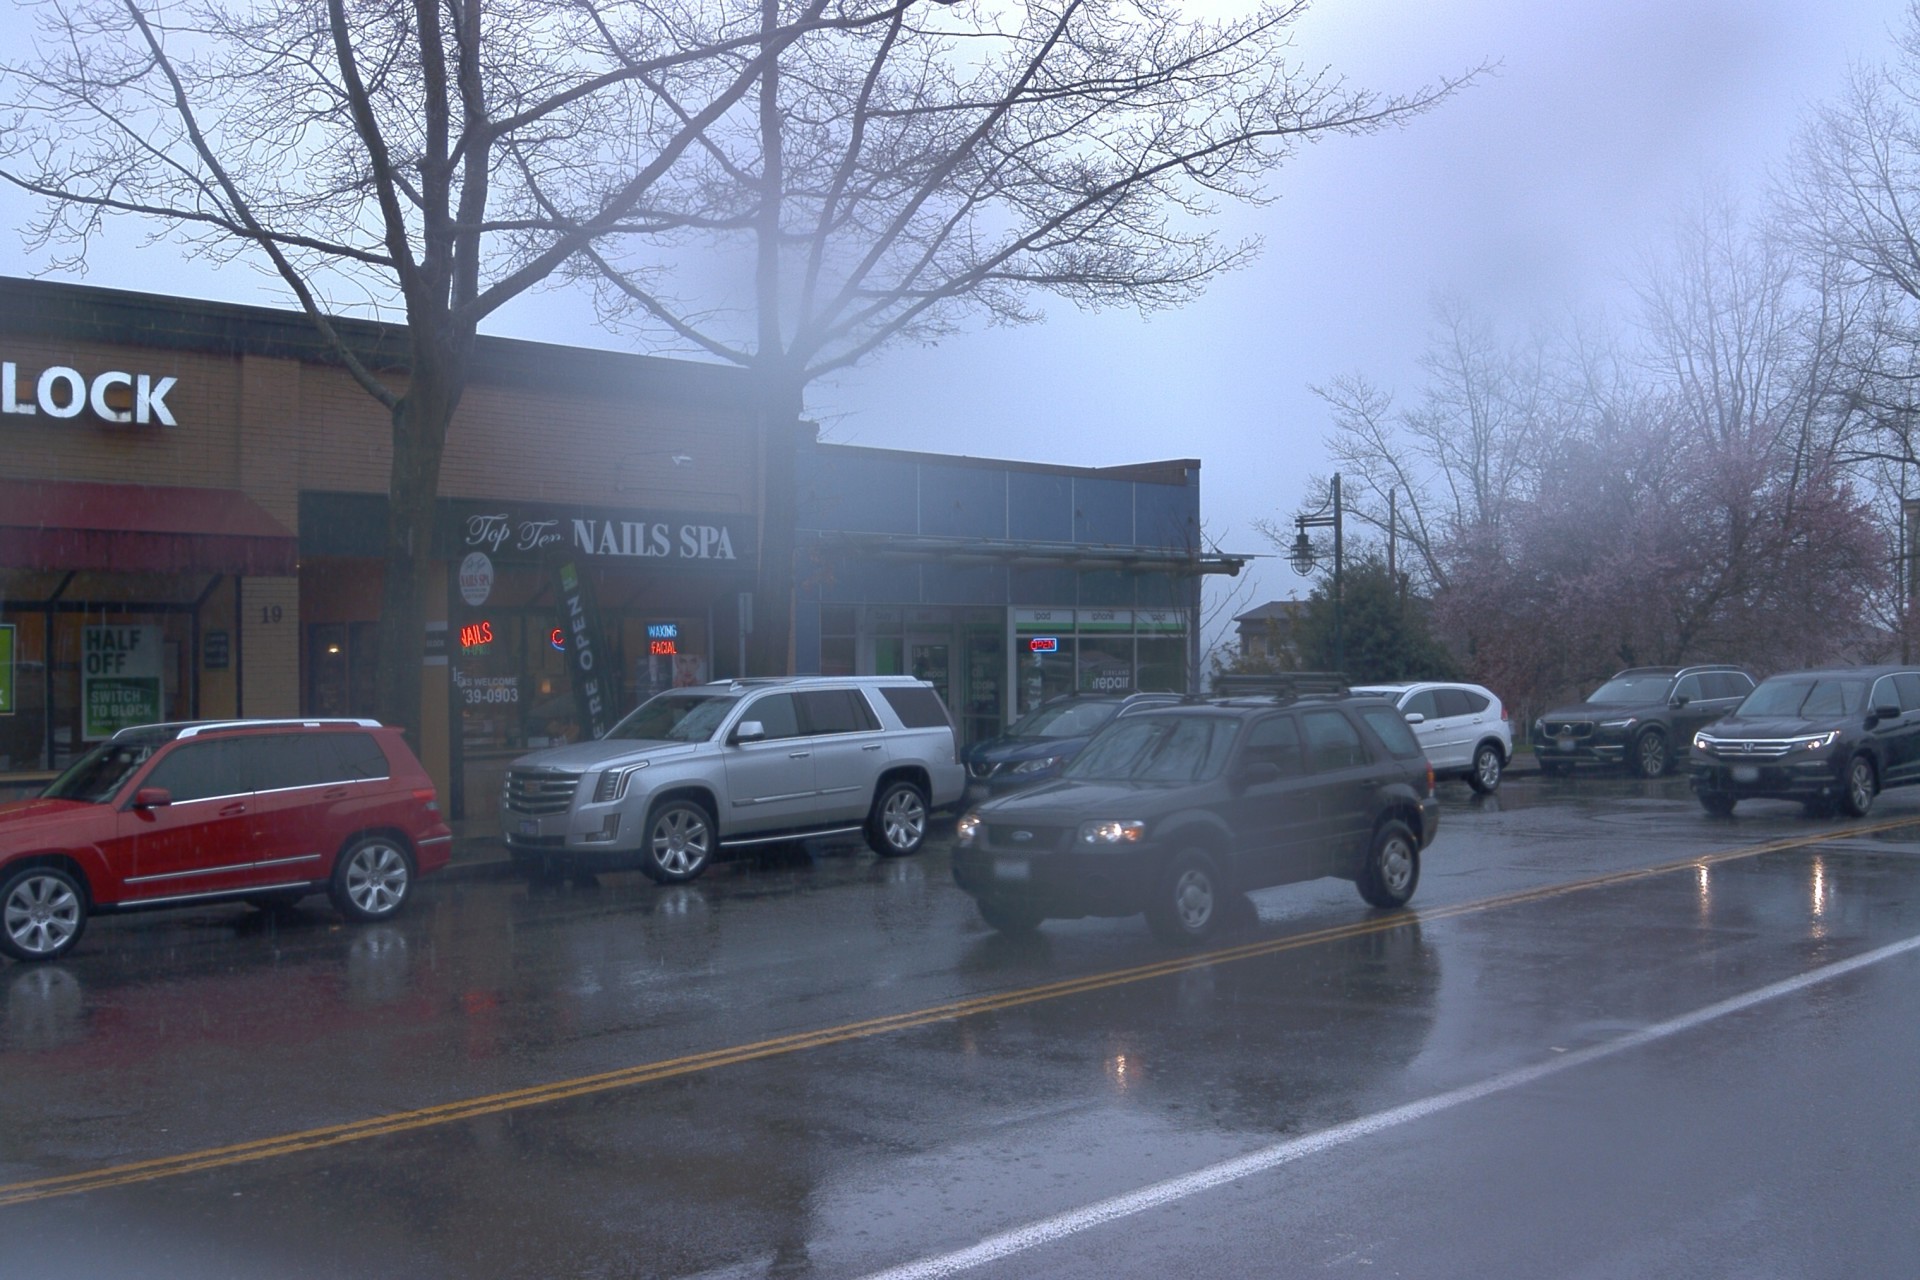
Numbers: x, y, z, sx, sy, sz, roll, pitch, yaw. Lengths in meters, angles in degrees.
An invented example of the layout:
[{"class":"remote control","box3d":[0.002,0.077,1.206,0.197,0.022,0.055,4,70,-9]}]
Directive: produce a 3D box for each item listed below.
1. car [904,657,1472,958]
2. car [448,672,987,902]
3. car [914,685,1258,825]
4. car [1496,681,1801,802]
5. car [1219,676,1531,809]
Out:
[{"class":"car","box3d":[1.880,1.111,15.768,1.956,1.860,4.594,1,1,43]},{"class":"car","box3d":[-2.321,1.347,21.042,2.331,1.890,5.194,1,1,42]},{"class":"car","box3d":[1.625,1.332,25.280,1.999,1.400,4.335,1,1,40]},{"class":"car","box3d":[11.415,1.599,34.052,5.296,1.690,2.144,-1,1,-37]},{"class":"car","box3d":[6.001,1.397,29.598,4.481,1.610,2.181,-1,1,-43]}]
